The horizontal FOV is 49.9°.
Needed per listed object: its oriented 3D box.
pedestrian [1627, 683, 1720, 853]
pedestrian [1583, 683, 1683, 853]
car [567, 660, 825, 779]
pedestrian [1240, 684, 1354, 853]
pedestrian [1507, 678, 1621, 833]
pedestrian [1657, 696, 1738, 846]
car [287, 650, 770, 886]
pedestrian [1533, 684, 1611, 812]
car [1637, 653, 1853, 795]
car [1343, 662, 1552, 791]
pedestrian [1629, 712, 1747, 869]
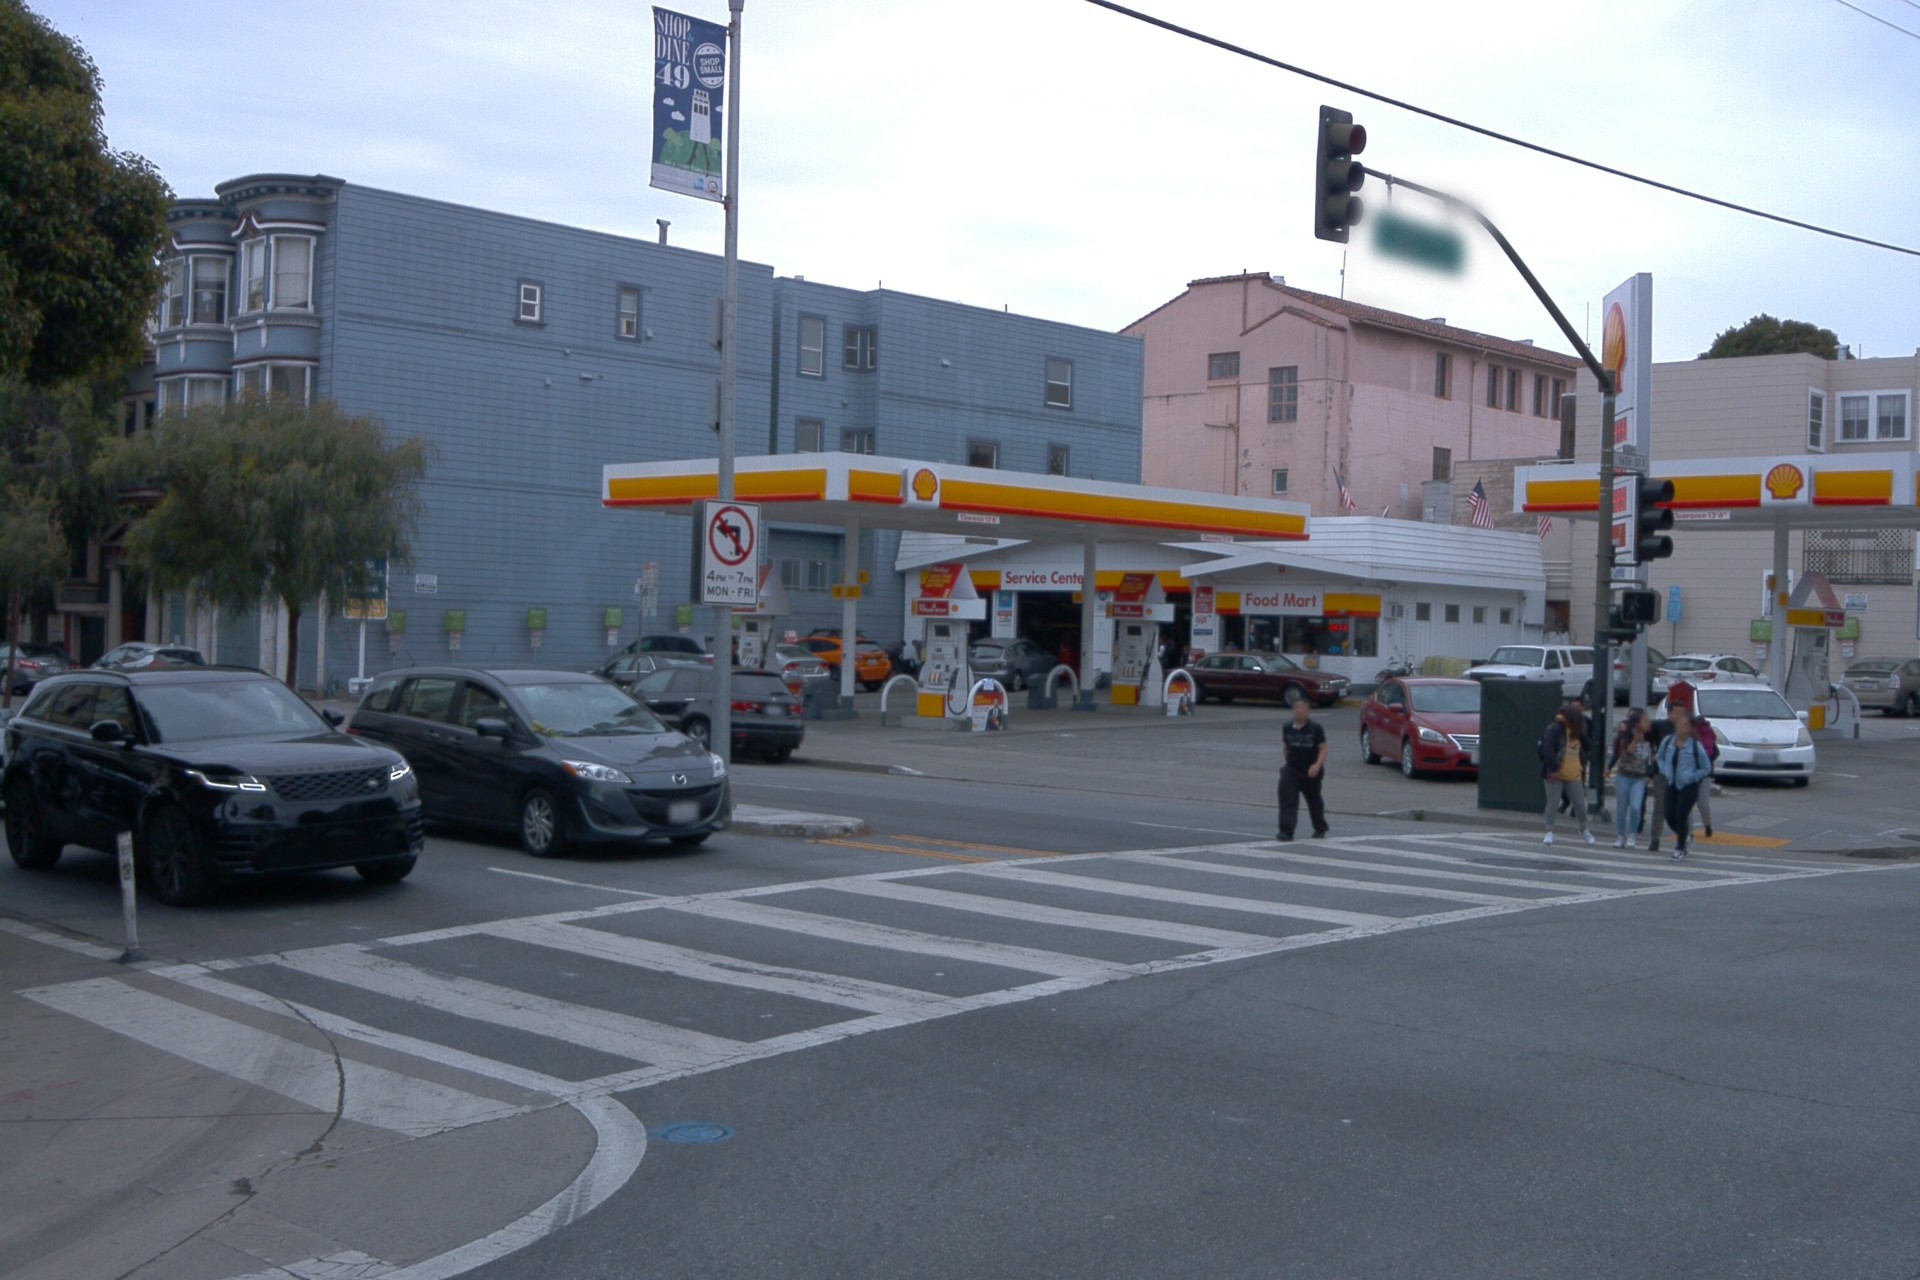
[{"bbox_3d":[7.808,1.373,22.569,0.840,1.770,0.887,0,1,26],"label":"pedestrian"},{"bbox_3d":[7.338,1.373,22.496,0.792,1.760,0.911,1,1,35],"label":"pedestrian"},{"bbox_3d":[-4.539,1.293,35.144,4.261,1.765,2.158,1,1,44],"label":"car"},{"bbox_3d":[3.437,1.276,20.975,0.836,1.610,1.131,0,1,27],"label":"pedestrian"},{"bbox_3d":[6.611,1.239,22.584,0.925,1.600,0.846,1,1,39],"label":"pedestrian"},{"bbox_3d":[8.766,1.542,24.526,0.708,1.700,0.709,1,1,38],"label":"pedestrian"},{"bbox_3d":[-4.074,1.046,18.988,4.688,1.789,2.067,1,1,44],"label":"car"},{"bbox_3d":[7.570,1.319,25.528,0.709,1.520,0.676,1,1,38],"label":"pedestrian"},{"bbox_3d":[11.995,1.215,31.876,2.093,1.930,4.522,0,1,7],"label":"car"},{"bbox_3d":[7.499,1.281,32.255,2.008,1.720,4.676,0,1,-2],"label":"car"},{"bbox_3d":[7.409,1.510,21.007,0.954,1.497,0.753,-1,1,-41],"label":"pedestrian"}]
